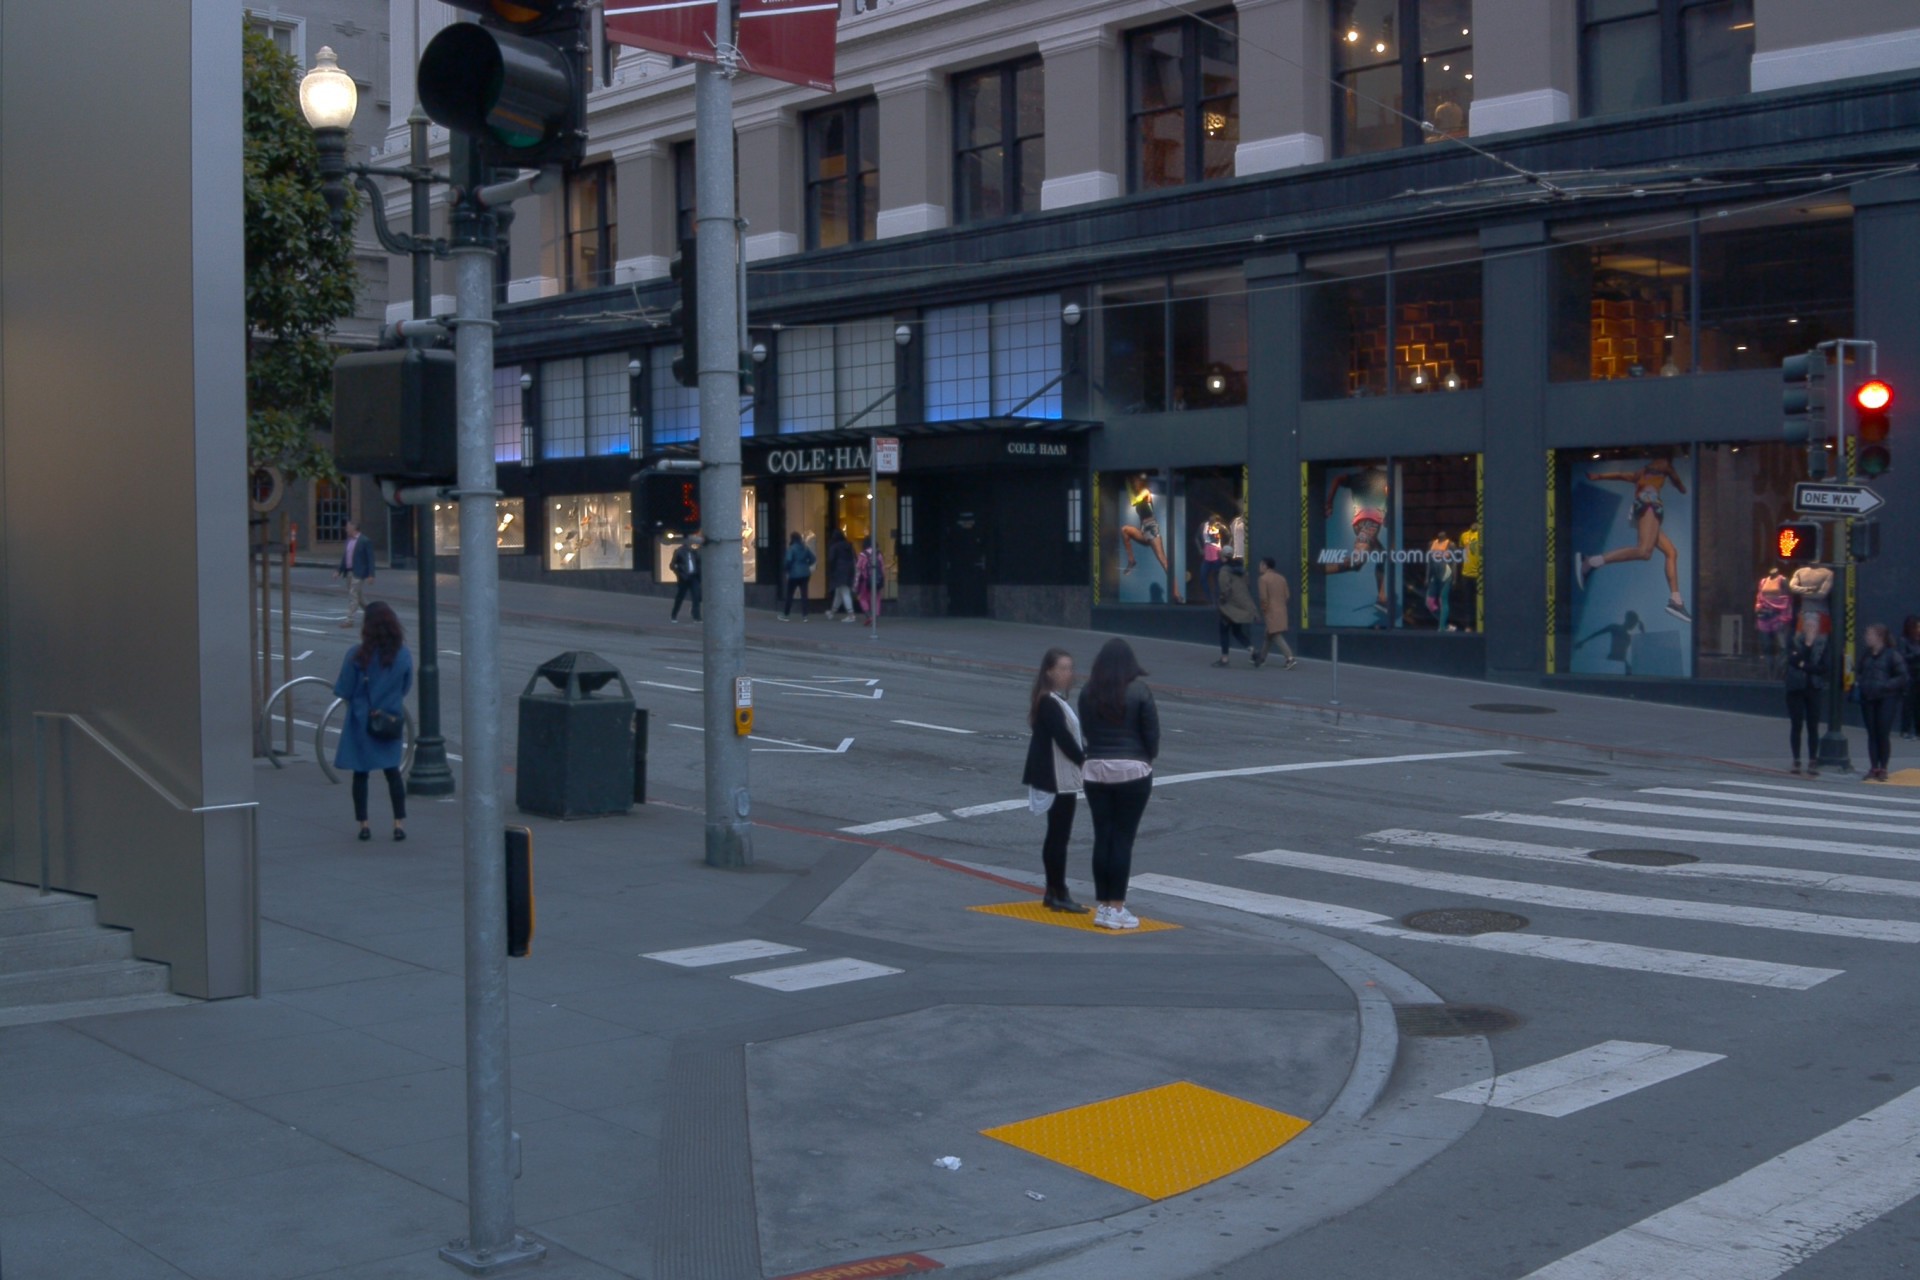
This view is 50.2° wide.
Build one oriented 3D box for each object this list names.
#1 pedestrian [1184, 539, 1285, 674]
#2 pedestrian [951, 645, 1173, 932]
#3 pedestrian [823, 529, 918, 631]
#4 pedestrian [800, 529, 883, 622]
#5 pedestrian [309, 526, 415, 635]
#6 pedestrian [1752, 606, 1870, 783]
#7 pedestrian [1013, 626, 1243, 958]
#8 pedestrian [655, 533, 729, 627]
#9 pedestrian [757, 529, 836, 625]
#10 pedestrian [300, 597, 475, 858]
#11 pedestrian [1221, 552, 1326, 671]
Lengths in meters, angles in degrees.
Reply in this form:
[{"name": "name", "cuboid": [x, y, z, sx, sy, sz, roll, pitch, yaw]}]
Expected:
[{"name": "pedestrian", "cuboid": [3.993, -0.482, 29.811, 1.104, 1.920, 0.963, 1, 1, 43]}, {"name": "pedestrian", "cuboid": [0.651, 0.897, 13.045, 0.997, 1.710, 1.003, 1, 1, 41]}, {"name": "pedestrian", "cuboid": [-1.522, -0.999, 34.698, 1.127, 1.690, 1.183, 0, 1, -36]}, {"name": "pedestrian", "cuboid": [-2.124, -1.137, 36.647, 0.965, 1.630, 1.148, -1, 1, -44]}, {"name": "pedestrian", "cuboid": [-9.969, -0.978, 34.199, 1.093, 1.780, 1.343, 1, 1, 21]}, {"name": "pedestrian", "cuboid": [8.945, 0.545, 21.527, 0.895, 1.800, 1.088, 1, 1, 36]}, {"name": "pedestrian", "cuboid": [1.011, 0.865, 12.353, 1.113, 1.890, 0.813, 0, 1, -33]}, {"name": "pedestrian", "cuboid": [-4.809, -1.060, 36.737, 0.891, 1.650, 1.047, 0, 1, -41]}, {"name": "pedestrian", "cuboid": [-2.915, -1.114, 36.530, 0.994, 1.670, 0.999, 0, 1, -42]}, {"name": "pedestrian", "cuboid": [-4.000, 0.577, 14.305, 0.951, 1.750, 0.801, 0, 1, -37]}, {"name": "pedestrian", "cuboid": [4.602, -0.416, 30.116, 1.108, 1.700, 1.053, 1, 1, 45]}]
